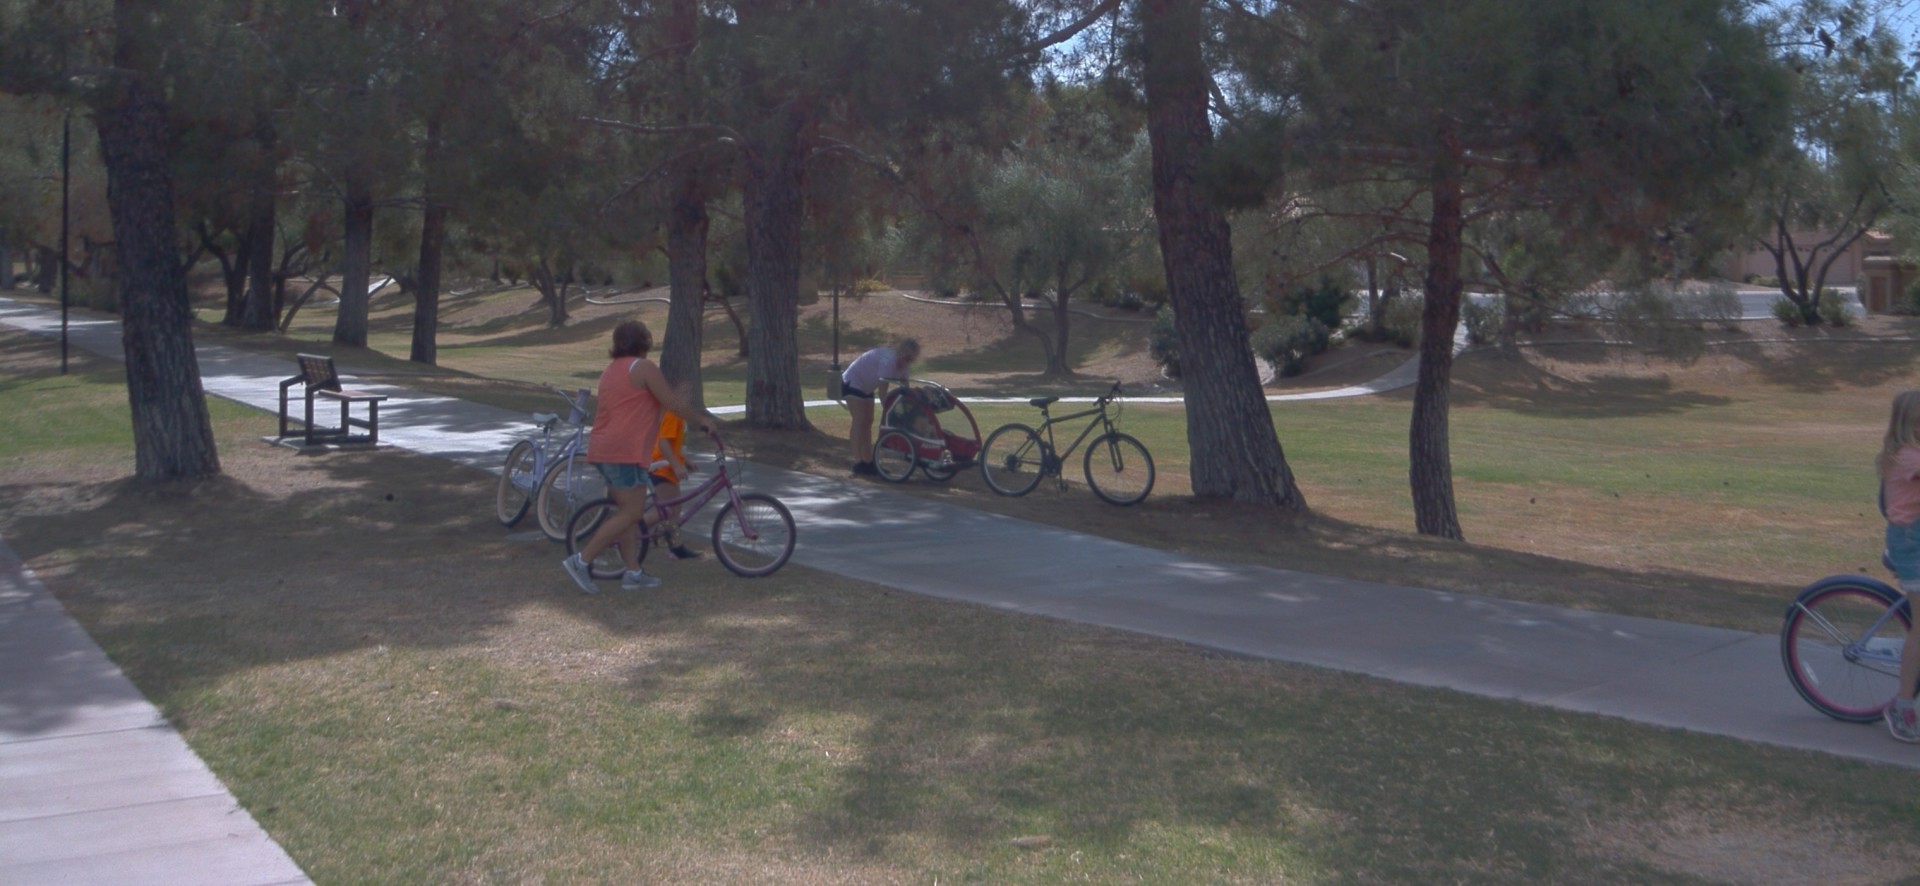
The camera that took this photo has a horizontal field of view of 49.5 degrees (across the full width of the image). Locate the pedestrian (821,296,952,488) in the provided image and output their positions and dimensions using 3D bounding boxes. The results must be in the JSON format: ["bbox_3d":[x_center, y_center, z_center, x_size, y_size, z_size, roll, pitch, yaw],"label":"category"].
[{"bbox_3d":[-0.685,-0.504,19.466,0.898,1.712,0.834,1,1,35],"label":"pedestrian"}]

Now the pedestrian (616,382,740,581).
[{"bbox_3d":[-1.789,0.225,13.280,0.597,1.181,0.733,0,1,8],"label":"pedestrian"}]

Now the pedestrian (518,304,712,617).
[{"bbox_3d":[-1.982,0.064,12.093,1.038,1.722,0.894,0,1,-5],"label":"pedestrian"}]
